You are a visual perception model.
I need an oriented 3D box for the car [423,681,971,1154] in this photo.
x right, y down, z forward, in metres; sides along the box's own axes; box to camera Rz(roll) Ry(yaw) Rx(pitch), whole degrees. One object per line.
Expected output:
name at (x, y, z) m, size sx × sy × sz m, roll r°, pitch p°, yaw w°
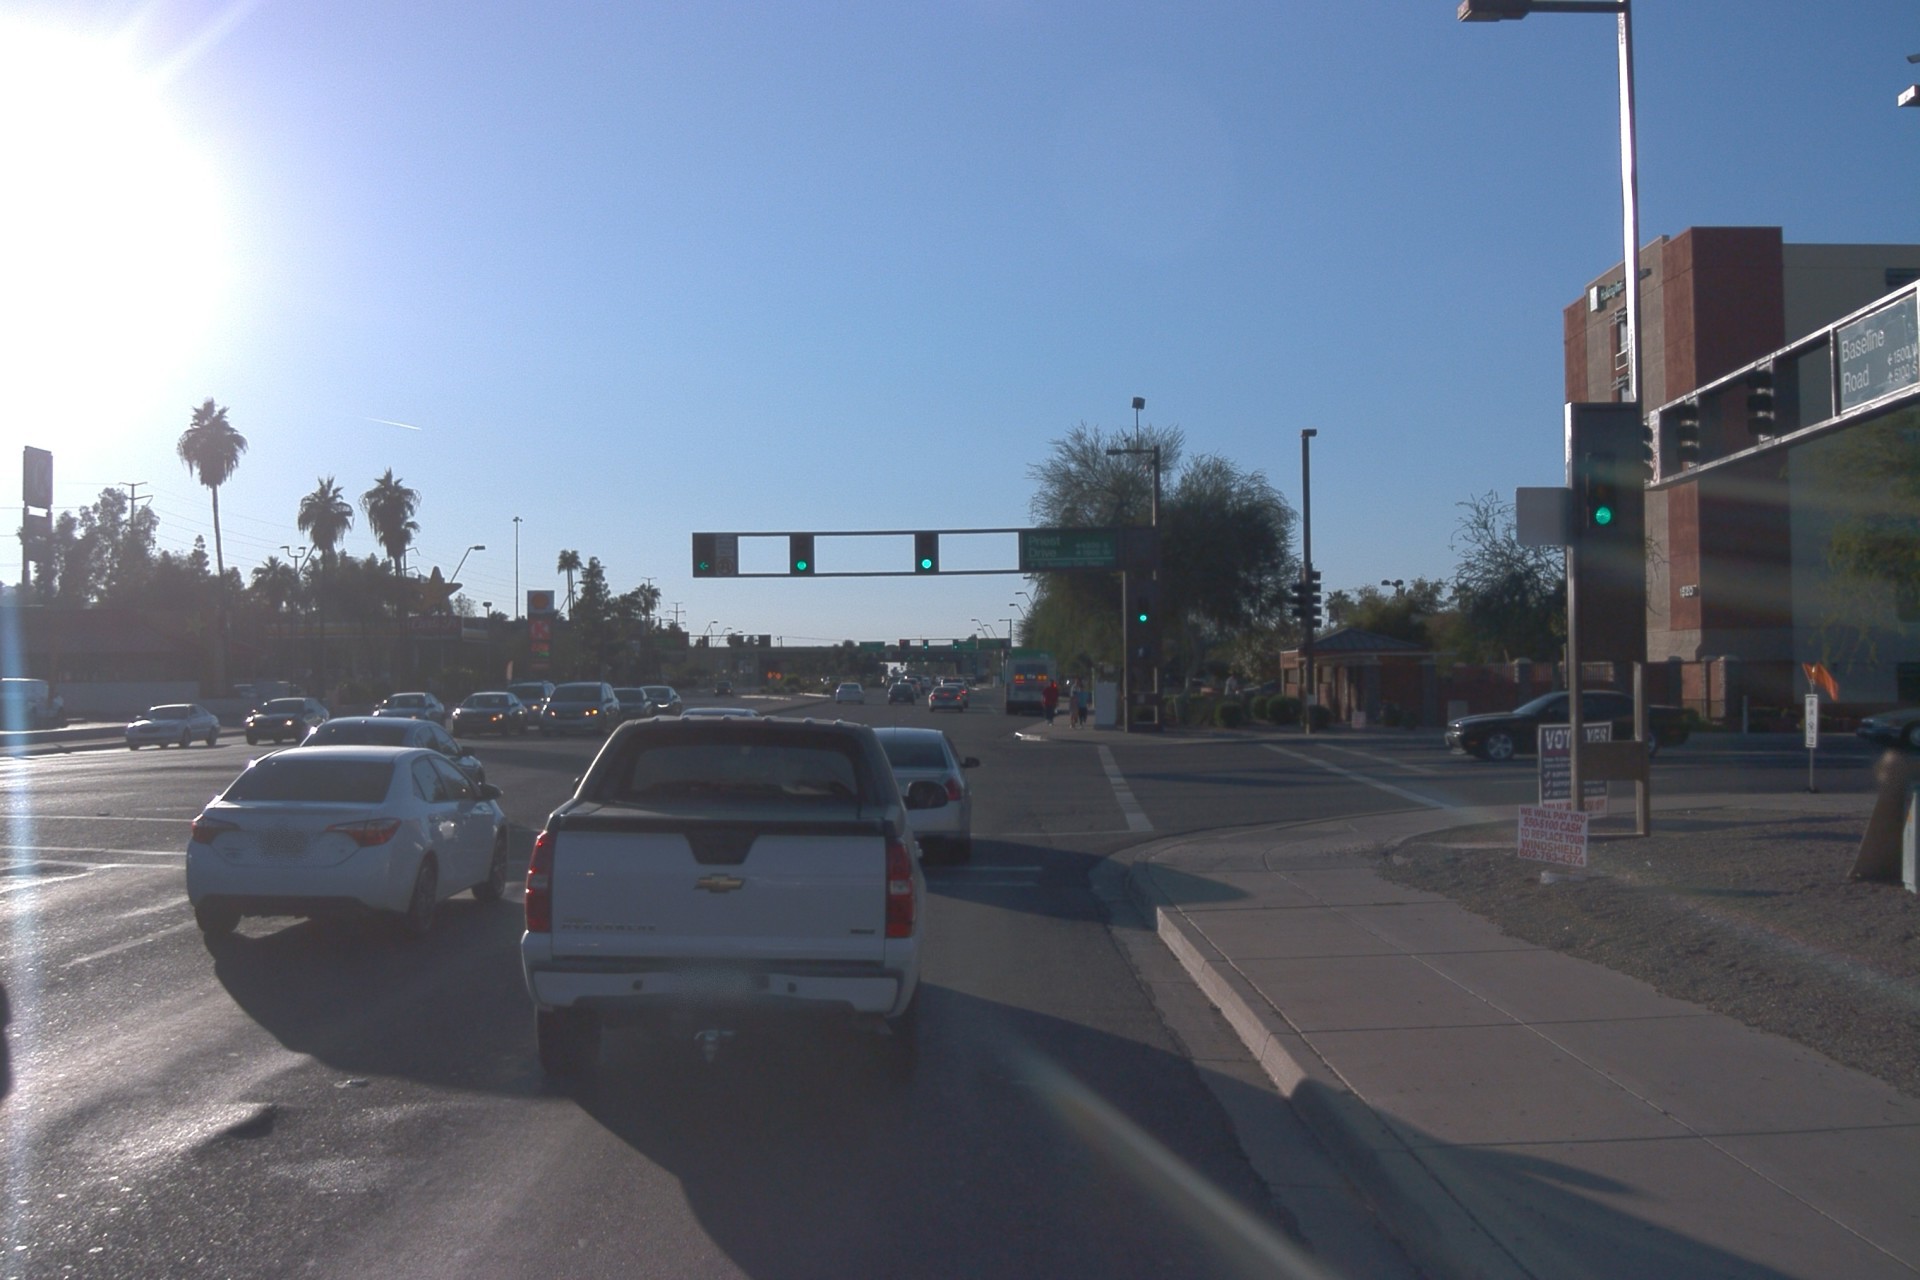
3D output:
car at (-1.257, 1.322, 12.209) m, size 2.477 × 2.120 × 5.357 m, roll 1°, pitch -1°, yaw -1°

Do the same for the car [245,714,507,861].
car at (-7.546, 1.856, 27.428) m, size 2.076 × 1.660 × 4.683 m, roll 1°, pitch -1°, yaw 1°

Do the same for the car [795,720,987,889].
car at (-0.741, 1.848, 24.643) m, size 2.031 × 1.680 × 4.704 m, roll 1°, pitch -1°, yaw 0°

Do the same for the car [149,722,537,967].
car at (-4.890, 1.559, 17.192) m, size 1.880 × 1.634 × 4.348 m, roll 1°, pitch -1°, yaw 0°
